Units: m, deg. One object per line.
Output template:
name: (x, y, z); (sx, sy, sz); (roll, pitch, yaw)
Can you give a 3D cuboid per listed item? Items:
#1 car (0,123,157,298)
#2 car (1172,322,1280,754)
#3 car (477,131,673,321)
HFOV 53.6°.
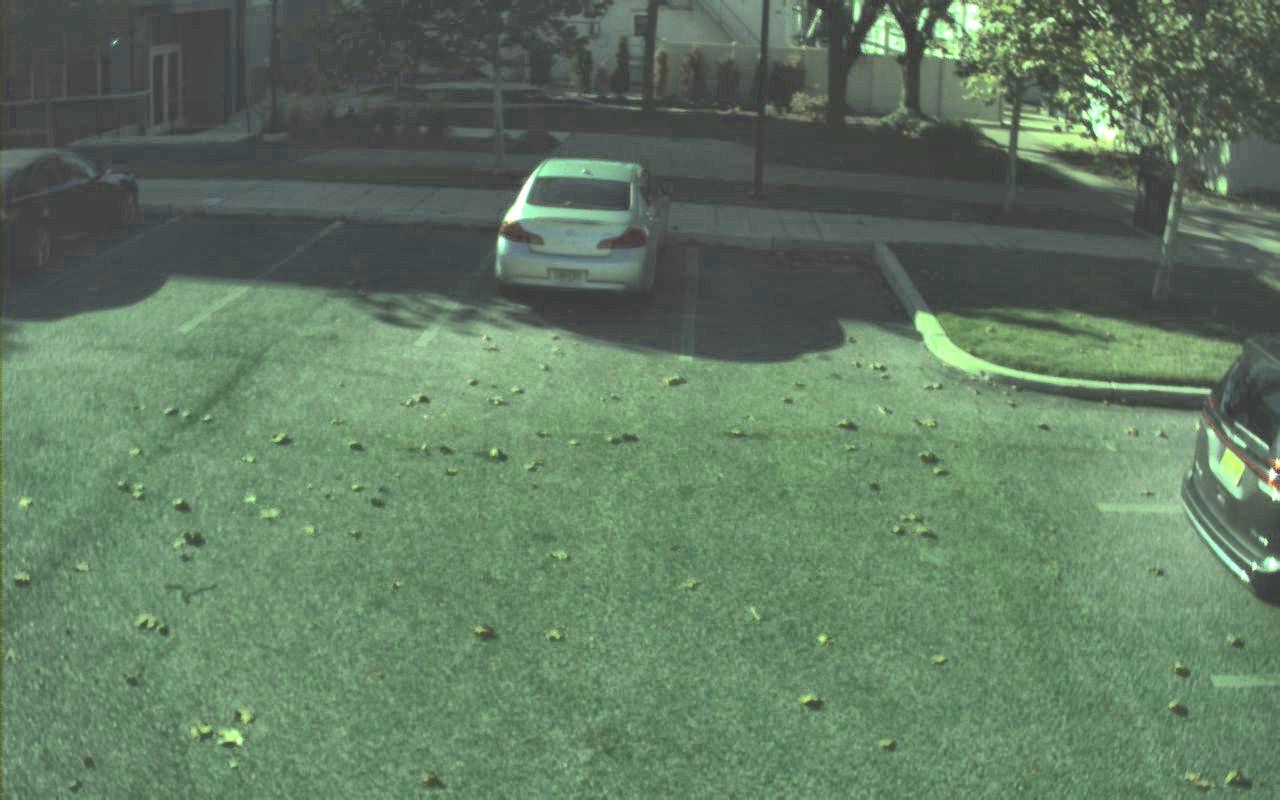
car: (-8.397, -2.653, 15.301); (1.970, 1.585, 4.612); (0, 17, 3)
car: (5.888, 0.634, 6.858); (4.458, 1.691, 2.008); (1, 16, 7)
car: (-0.609, -2.231, 14.991); (1.918, 1.570, 4.422); (0, 17, 2)
